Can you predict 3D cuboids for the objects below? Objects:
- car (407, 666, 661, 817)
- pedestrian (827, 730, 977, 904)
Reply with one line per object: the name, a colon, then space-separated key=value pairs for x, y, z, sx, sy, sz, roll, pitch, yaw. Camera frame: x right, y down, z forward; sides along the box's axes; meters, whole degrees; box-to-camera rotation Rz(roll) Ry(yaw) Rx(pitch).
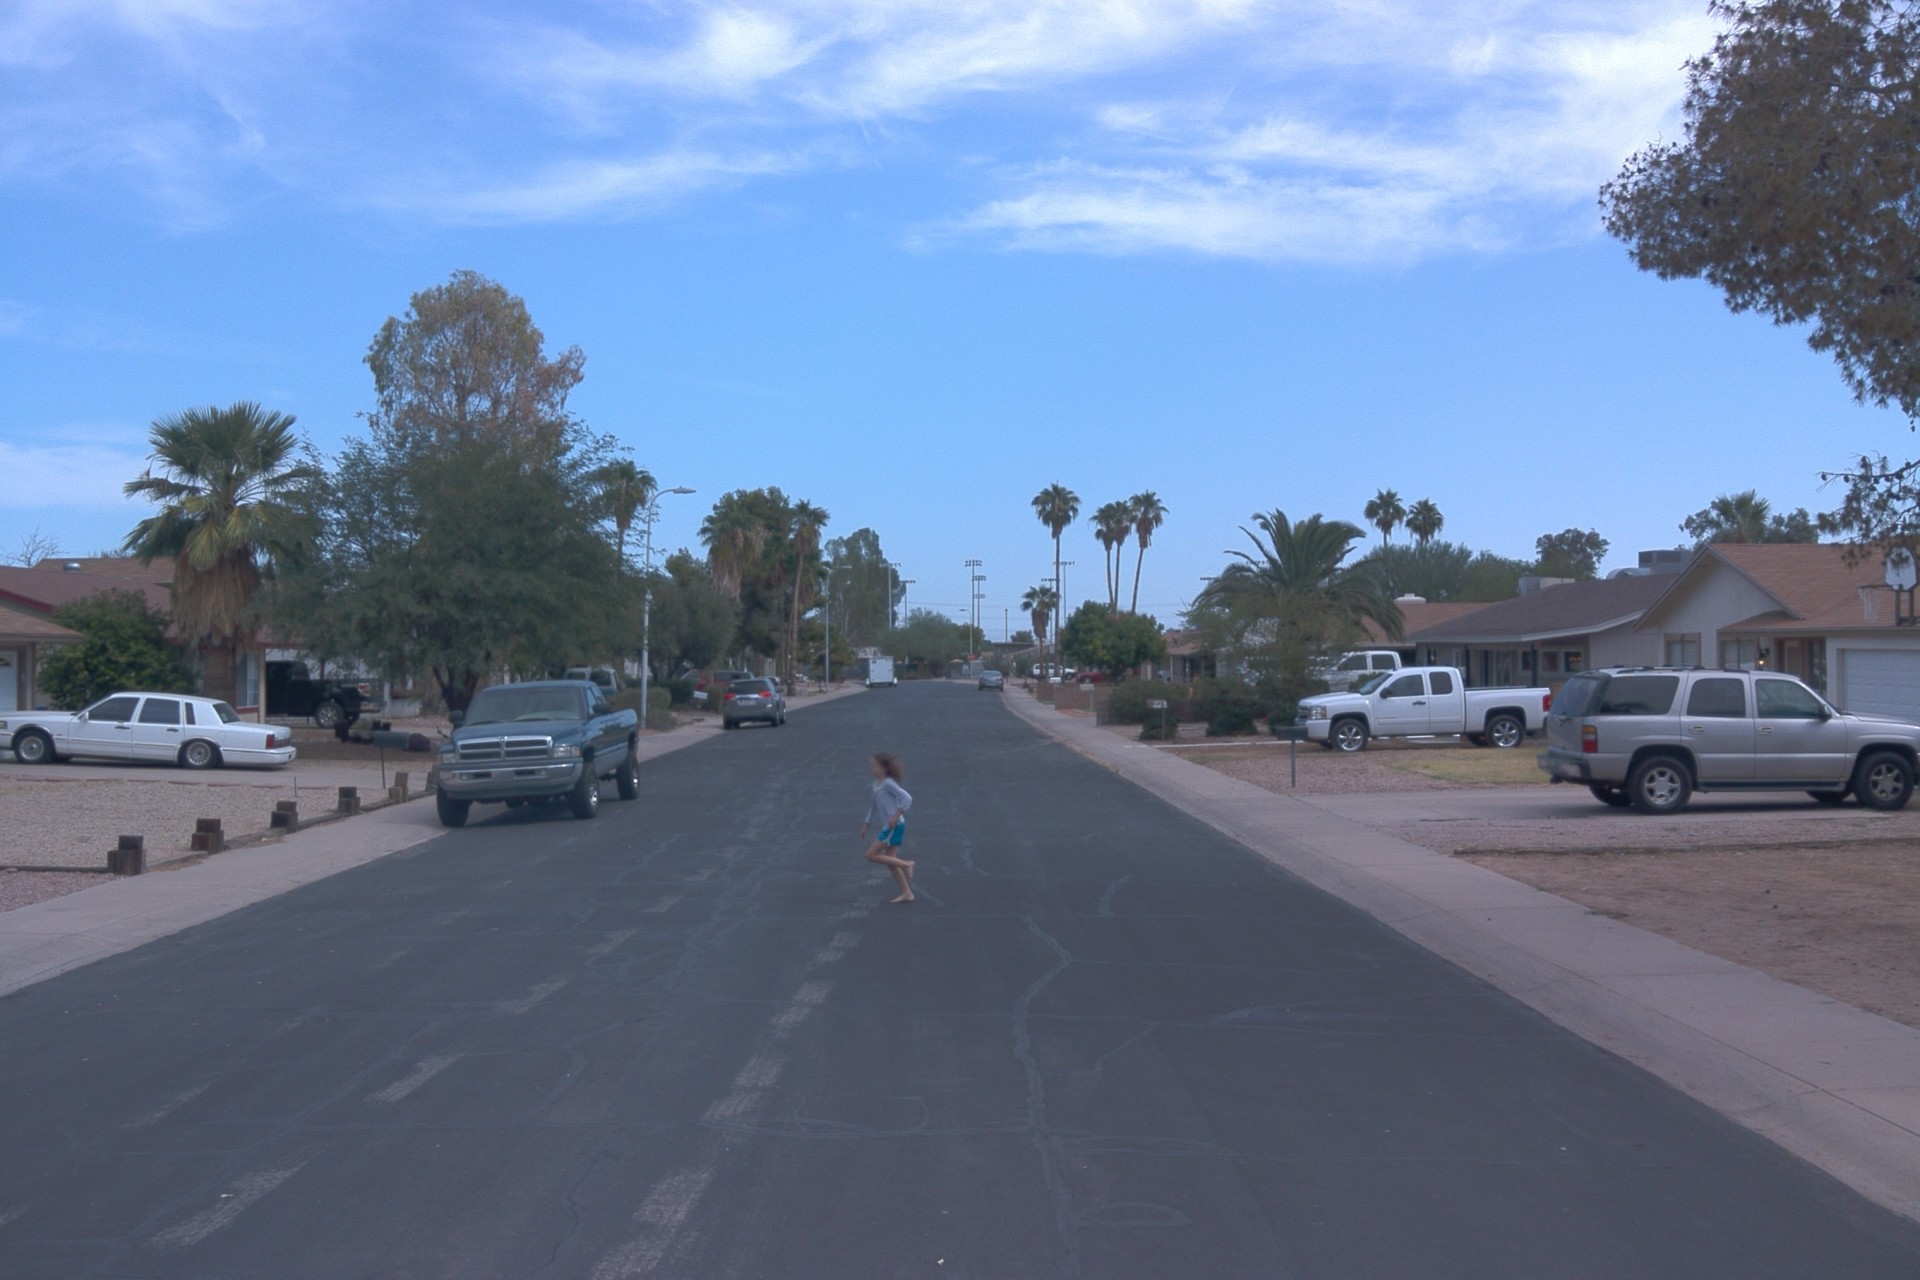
car: x=-6.162 y=1.397 z=30.866 sx=2.461 sy=1.980 sz=6.208 roll=0 pitch=-1 yaw=0
pedestrian: x=-0.512 y=1.505 z=17.879 sx=1.131 sy=1.420 sz=0.948 roll=1 pitch=0 yaw=-12
